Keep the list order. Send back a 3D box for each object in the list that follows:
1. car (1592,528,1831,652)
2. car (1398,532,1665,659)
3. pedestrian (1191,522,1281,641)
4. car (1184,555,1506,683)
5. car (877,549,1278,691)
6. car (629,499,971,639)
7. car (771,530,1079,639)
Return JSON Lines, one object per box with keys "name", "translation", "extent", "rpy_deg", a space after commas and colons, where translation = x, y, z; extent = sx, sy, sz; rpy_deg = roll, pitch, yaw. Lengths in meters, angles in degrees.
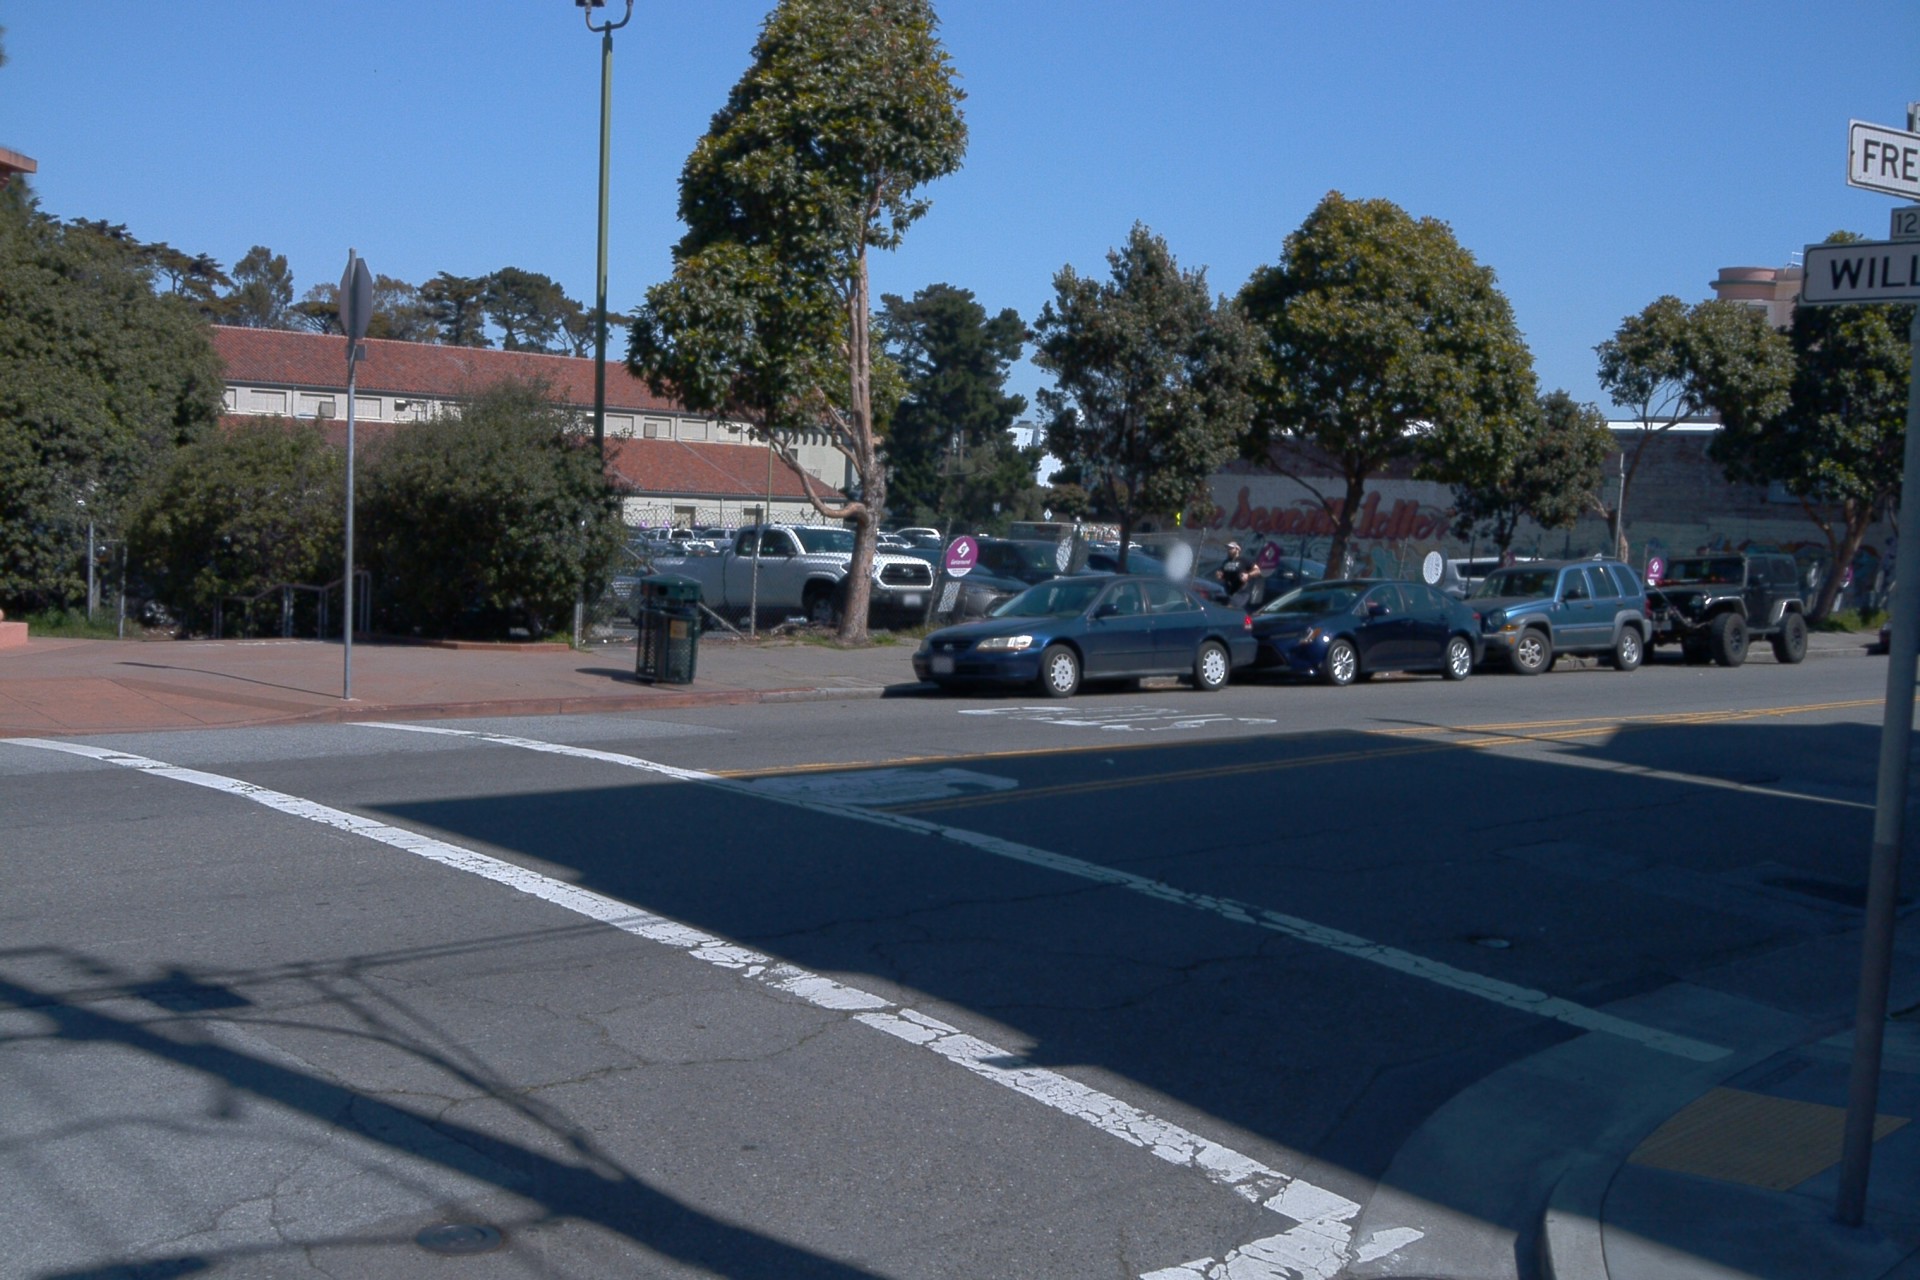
{"name": "car", "translation": [13.036, -0.806, 35.367], "extent": [4.382, 2.010, 2.078], "rpy_deg": [0, 0, -43]}
{"name": "car", "translation": [8.938, -0.643, 31.842], "extent": [4.224, 1.840, 2.011], "rpy_deg": [0, 0, -41]}
{"name": "pedestrian", "translation": [4.190, -0.877, 31.061], "extent": [1.063, 1.770, 0.826], "rpy_deg": [0, 1, -39]}
{"name": "car", "translation": [5.295, -0.263, 27.807], "extent": [4.567, 1.590, 1.947], "rpy_deg": [0, 0, -43]}
{"name": "car", "translation": [1.500, -0.215, 24.486], "extent": [4.876, 1.530, 2.008], "rpy_deg": [0, 0, -44]}
{"name": "car", "translation": [-2.584, -1.032, 31.620], "extent": [2.096, 1.970, 5.675], "rpy_deg": [0, 0, -45]}
{"name": "car", "translation": [-0.650, -0.865, 33.457], "extent": [2.171, 1.650, 5.007], "rpy_deg": [0, 0, -45]}
